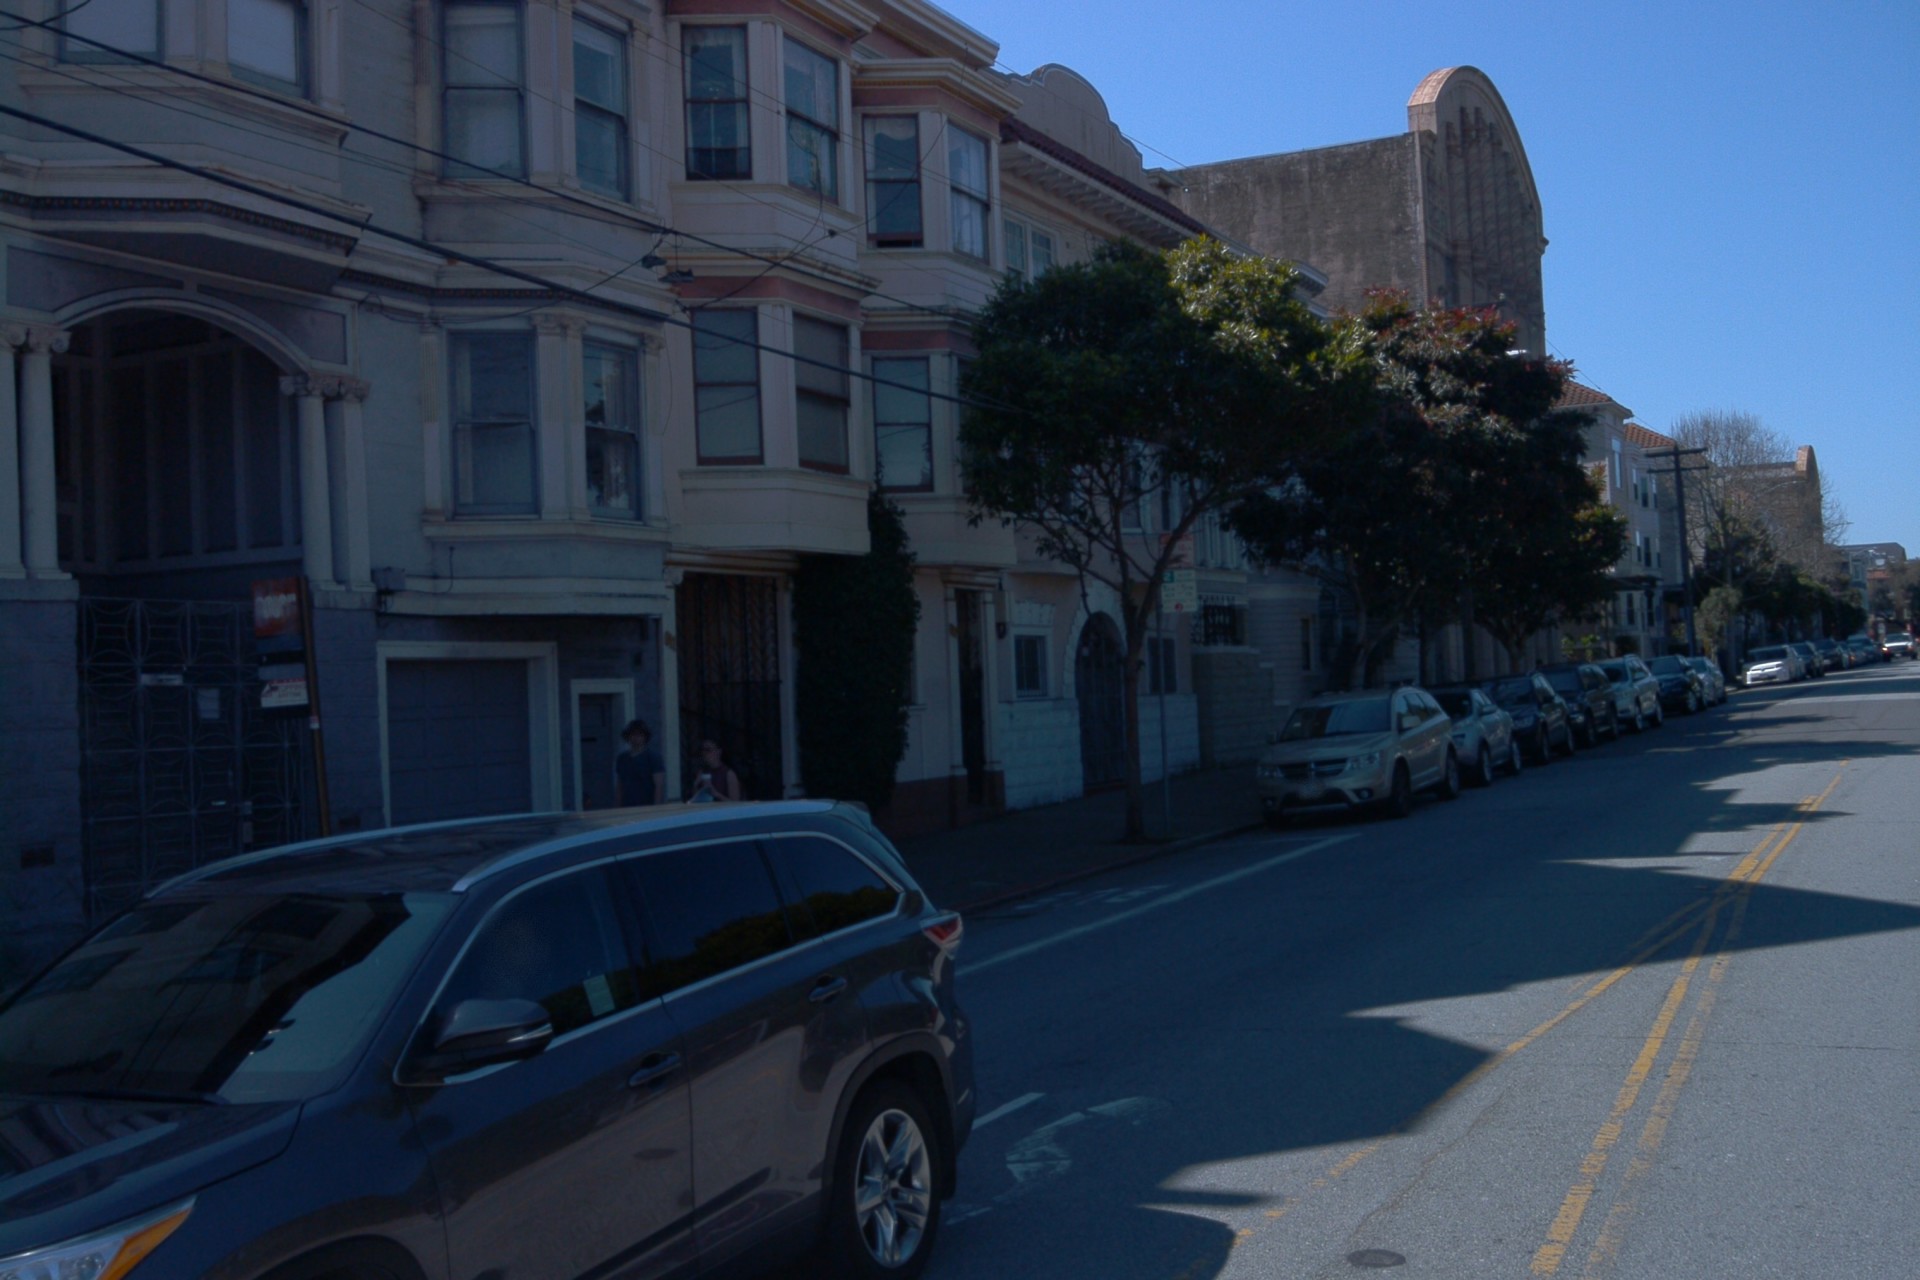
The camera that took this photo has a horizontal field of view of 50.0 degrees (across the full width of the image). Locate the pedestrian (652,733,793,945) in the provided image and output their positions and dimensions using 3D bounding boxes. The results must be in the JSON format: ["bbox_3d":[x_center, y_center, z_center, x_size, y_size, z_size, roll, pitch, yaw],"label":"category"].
[{"bbox_3d":[-2.142,1.769,18.624,0.864,1.780,0.989,1,1,26],"label":"pedestrian"}]

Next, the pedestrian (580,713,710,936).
[{"bbox_3d":[-2.887,1.667,18.902,0.806,1.930,0.882,1,1,30],"label":"pedestrian"}]

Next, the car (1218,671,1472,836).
[{"bbox_3d":[5.393,1.447,28.215,2.227,1.880,5.005,1,1,25],"label":"car"}]

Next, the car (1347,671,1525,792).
[{"bbox_3d":[7.688,1.398,32.928,1.983,1.640,4.290,1,1,24],"label":"car"}]
